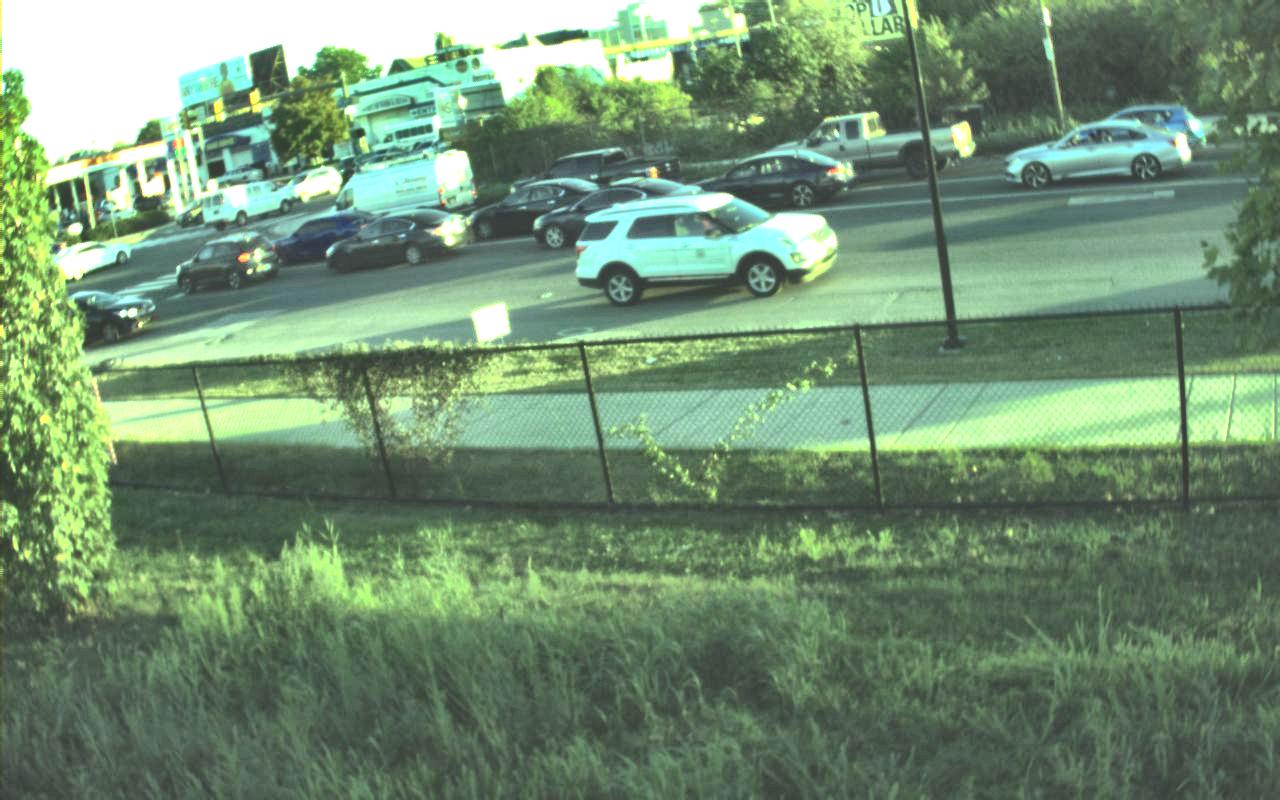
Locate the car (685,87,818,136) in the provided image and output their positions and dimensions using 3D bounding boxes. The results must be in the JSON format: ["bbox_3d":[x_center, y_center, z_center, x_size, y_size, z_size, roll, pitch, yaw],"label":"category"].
[{"bbox_3d":[4.408,-11.366,48.871,4.807,1.726,2.077,7,17,25],"label":"car"}]

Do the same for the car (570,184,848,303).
[{"bbox_3d":[1.285,-2.977,23.239,4.715,1.638,2.039,7,17,25],"label":"car"}]

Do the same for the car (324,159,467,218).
[{"bbox_3d":[-8.707,-7.512,43.727,4.817,1.770,2.062,7,17,25],"label":"car"}]

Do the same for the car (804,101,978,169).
[{"bbox_3d":[7.231,-7.639,35.289,4.684,1.648,2.007,7,18,26],"label":"car"}]
